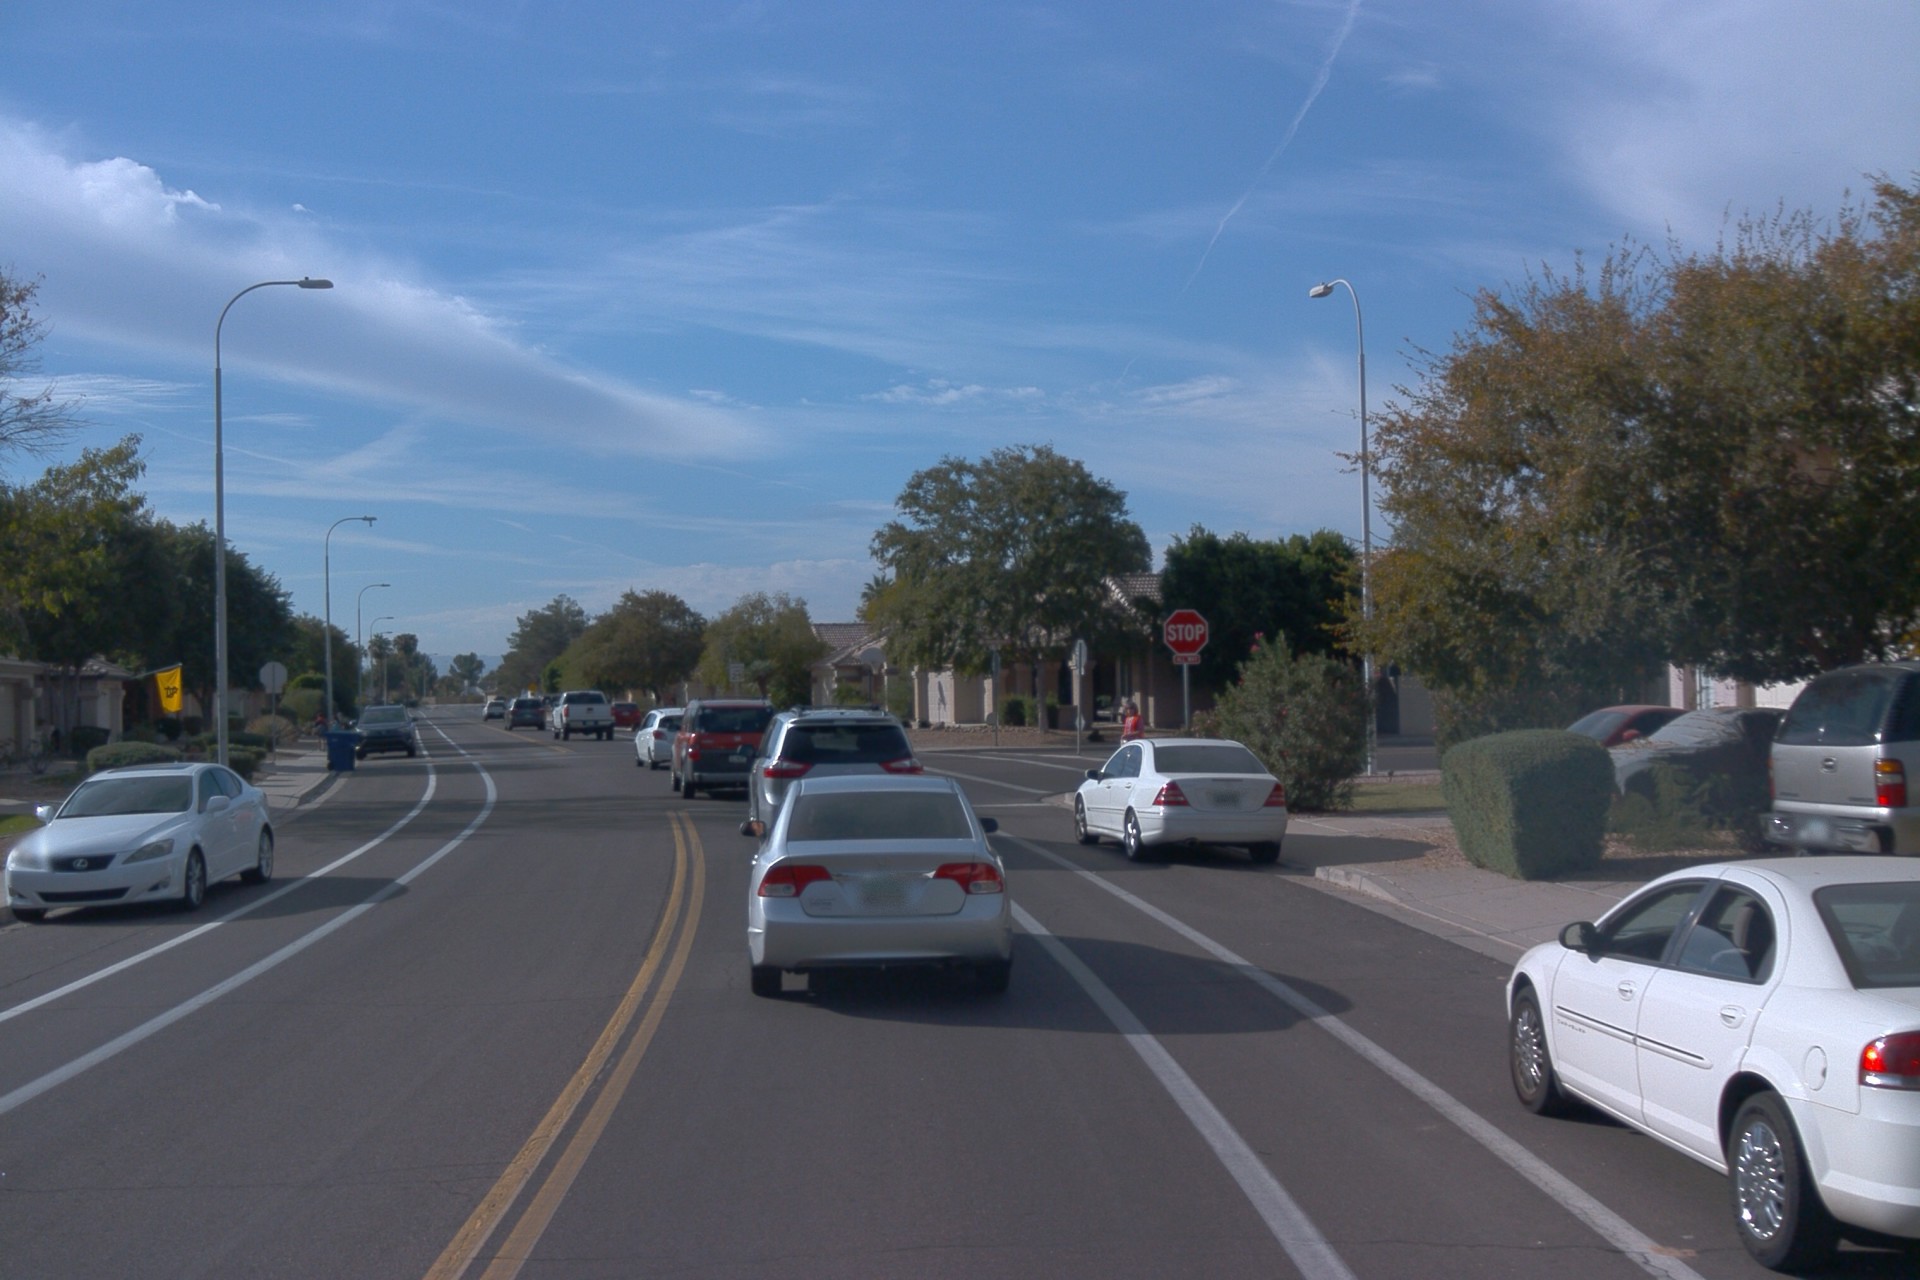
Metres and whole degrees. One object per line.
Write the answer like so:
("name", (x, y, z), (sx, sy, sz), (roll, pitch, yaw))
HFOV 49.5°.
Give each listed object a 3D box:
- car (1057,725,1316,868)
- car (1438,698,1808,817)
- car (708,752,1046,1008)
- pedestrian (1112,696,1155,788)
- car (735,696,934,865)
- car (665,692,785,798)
("car", (2.607, 1.805, 25.102), (1.981, 1.460, 4.428), (0, -1, -9))
("car", (8.656, 1.507, 27.300), (4.231, 1.440, 1.854), (0, -1, -10))
("car", (-0.655, 1.625, 15.307), (2.121, 1.440, 4.395), (0, -1, -4))
("pedestrian", (2.985, 1.751, 35.817), (0.658, 1.570, 0.531), (0, -1, -1))
("car", (-1.686, 1.669, 26.181), (2.196, 1.870, 4.613), (0, -1, -7))
("car", (-4.340, 1.865, 38.053), (1.819, 1.810, 3.839), (0, -1, -12))
